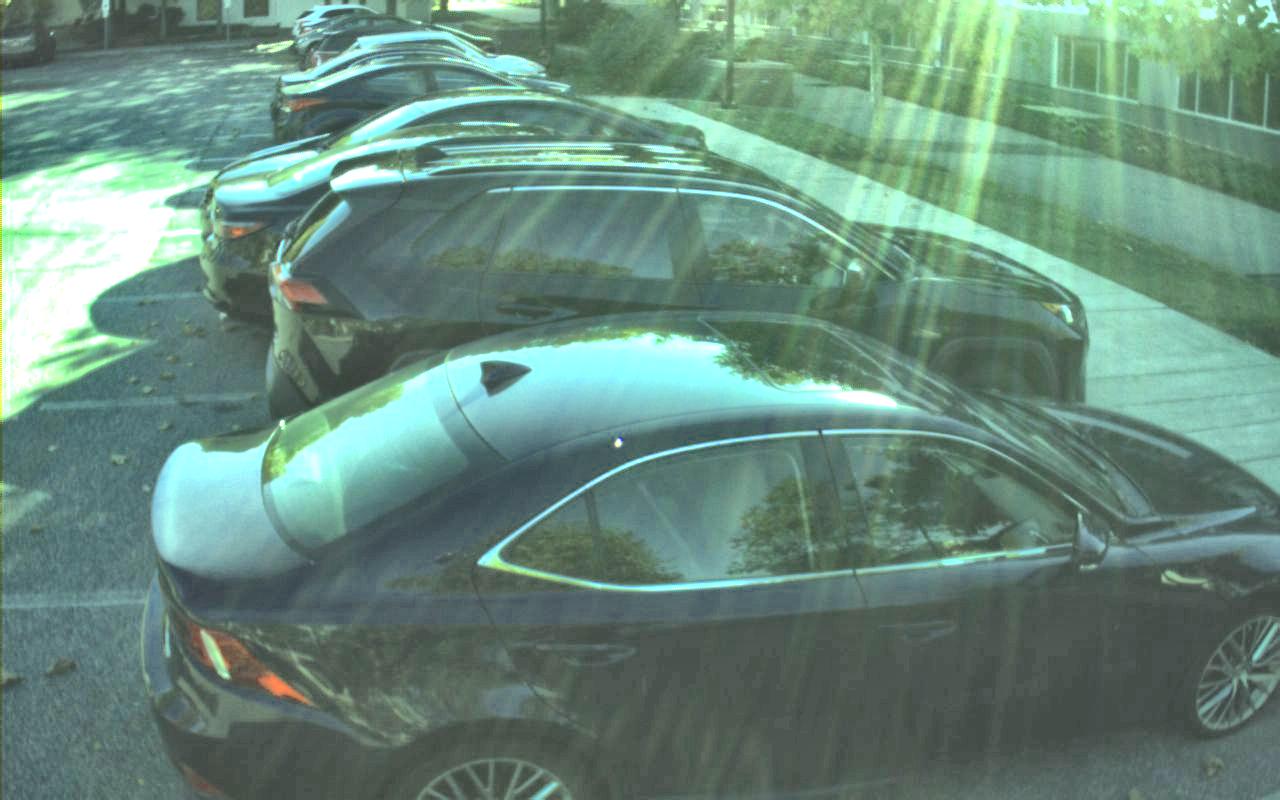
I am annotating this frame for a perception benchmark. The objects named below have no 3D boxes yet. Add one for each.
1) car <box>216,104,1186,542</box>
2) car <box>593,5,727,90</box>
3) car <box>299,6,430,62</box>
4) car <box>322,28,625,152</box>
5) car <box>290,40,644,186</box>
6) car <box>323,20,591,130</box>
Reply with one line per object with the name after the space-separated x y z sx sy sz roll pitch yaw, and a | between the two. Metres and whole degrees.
0.324 -0.620 6.529 4.625 1.696 1.988 -4 17 -10 | car
0.322 -7.679 26.734 2.004 1.713 4.579 -4 17 -10 | car
-9.785 -12.866 42.299 4.545 1.650 1.986 -6 17 -17 | car
-2.617 -4.781 18.687 4.438 1.595 1.975 -5 17 -13 | car
-2.365 -3.842 16.130 4.462 1.575 1.964 -6 17 -15 | car
-3.234 -5.634 21.054 4.455 1.591 1.963 -5 17 -14 | car
